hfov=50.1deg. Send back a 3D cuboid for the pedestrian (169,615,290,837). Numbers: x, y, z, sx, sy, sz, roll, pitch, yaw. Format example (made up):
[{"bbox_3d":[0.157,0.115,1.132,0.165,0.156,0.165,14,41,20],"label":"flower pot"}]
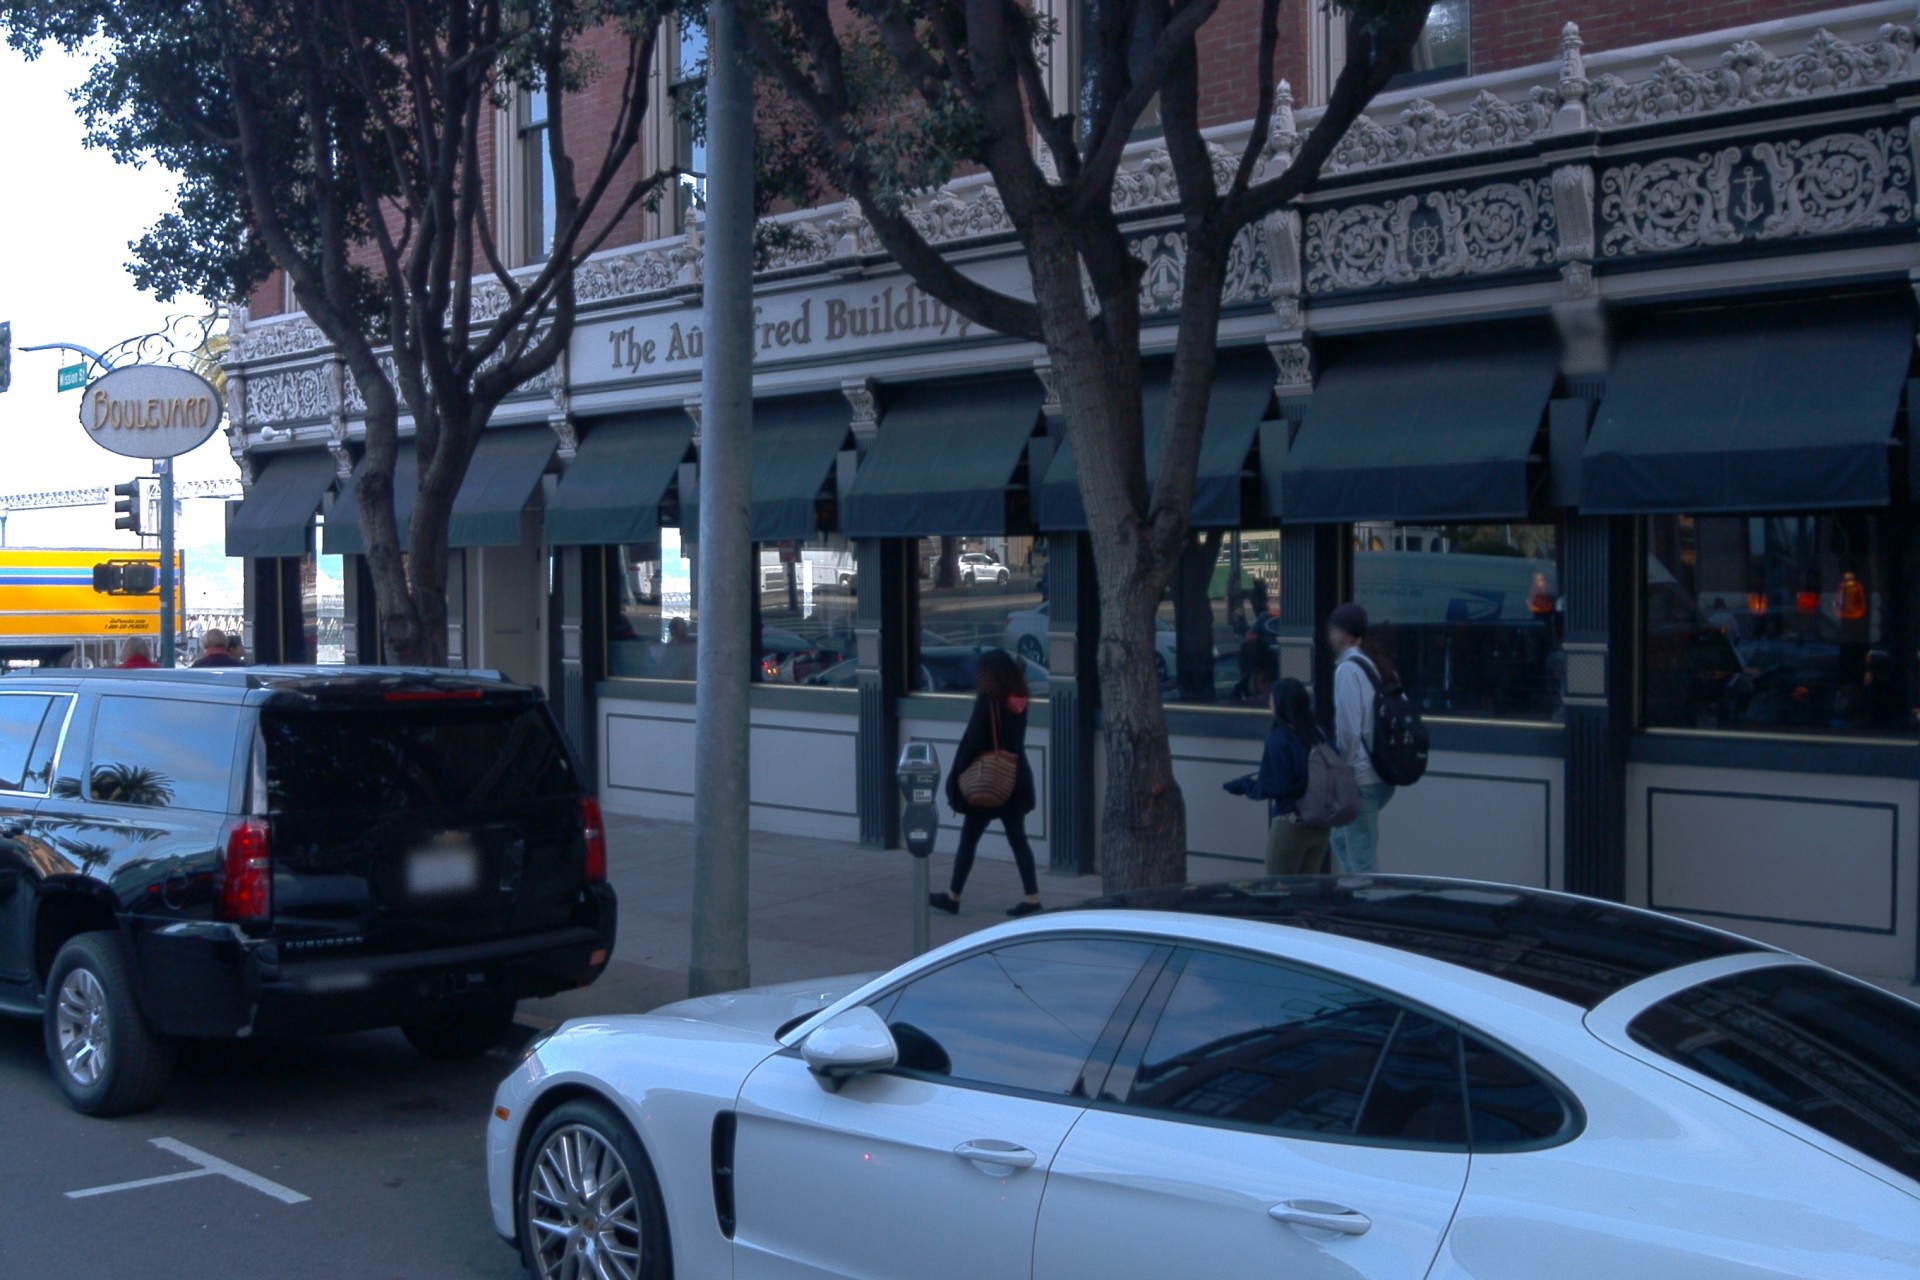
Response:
[{"bbox_3d":[-6.399,0.724,18.013,0.726,1.890,0.814,0,0,-43],"label":"pedestrian"}]

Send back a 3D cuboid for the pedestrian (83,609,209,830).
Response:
[{"bbox_3d":[-6.934,0.651,17.513,0.726,1.828,0.814,0,0,-45],"label":"pedestrian"}]

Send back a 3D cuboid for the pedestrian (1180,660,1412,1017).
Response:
[{"bbox_3d":[1.663,0.935,10.190,0.895,1.650,0.692,0,0,43],"label":"pedestrian"}]

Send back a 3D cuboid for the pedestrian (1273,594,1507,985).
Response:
[{"bbox_3d":[2.230,0.727,10.668,0.917,1.920,0.771,0,0,43],"label":"pedestrian"}]

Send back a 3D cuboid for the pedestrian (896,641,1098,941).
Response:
[{"bbox_3d":[0.220,0.858,12.283,0.934,1.690,0.759,0,0,43],"label":"pedestrian"}]
